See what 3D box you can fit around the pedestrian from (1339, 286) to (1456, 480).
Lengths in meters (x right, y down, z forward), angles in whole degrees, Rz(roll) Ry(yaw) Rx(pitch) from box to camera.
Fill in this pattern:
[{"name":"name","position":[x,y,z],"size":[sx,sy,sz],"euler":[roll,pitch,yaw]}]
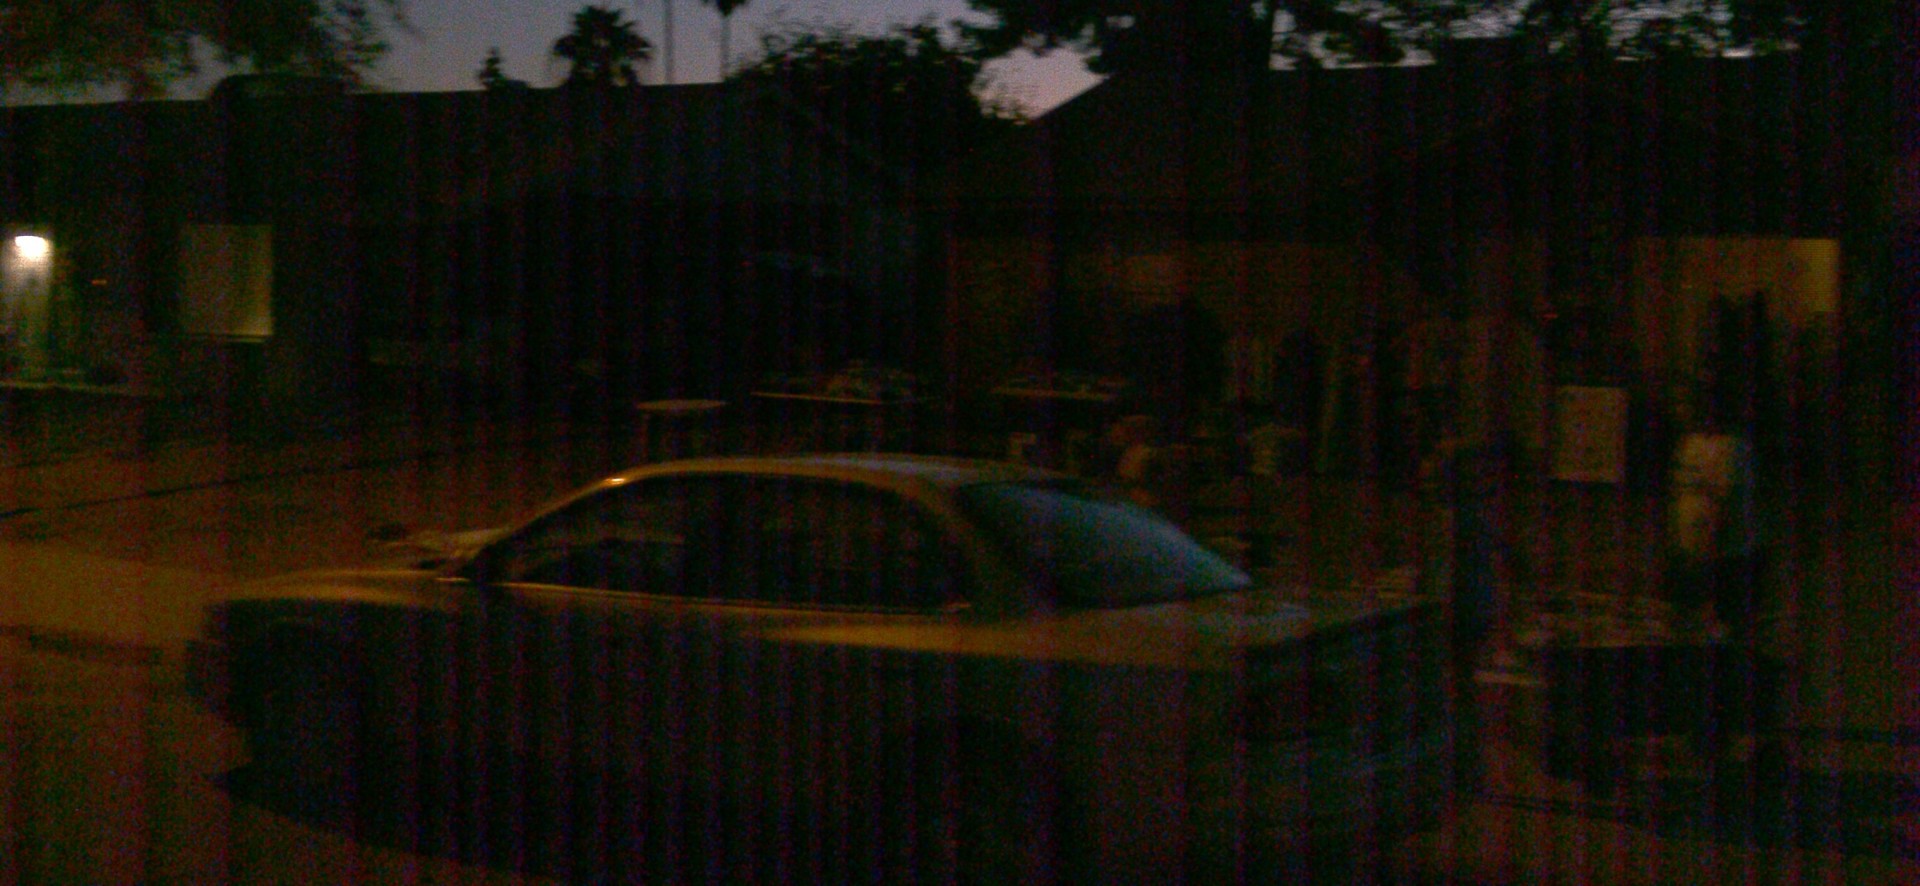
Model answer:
[{"name":"pedestrian","position":[3.872,-0.556,18.510],"size":[0.806,1.638,0.653],"euler":[1,2,34]}]

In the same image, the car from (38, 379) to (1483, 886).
[{"name":"car","position":[-0.847,0.656,7.898],"size":[5.023,1.445,2.262],"euler":[4,5,30]}]

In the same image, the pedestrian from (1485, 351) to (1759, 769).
[{"name":"pedestrian","position":[2.958,0.465,9.369],"size":[0.842,1.688,0.826],"euler":[-1,2,-38]}]

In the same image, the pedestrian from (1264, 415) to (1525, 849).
[{"name":"pedestrian","position":[1.770,0.707,8.463],"size":[0.873,1.538,0.841],"euler":[1,2,23]}]

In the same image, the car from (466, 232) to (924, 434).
[{"name":"car","position":[-2.873,-1.447,24.606],"size":[2.336,2.042,6.068],"euler":[2,6,27]}]

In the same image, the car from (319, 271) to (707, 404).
[{"name":"car","position":[-5.406,-1.372,25.826],"size":[2.203,1.384,4.335],"euler":[3,6,35]}]
